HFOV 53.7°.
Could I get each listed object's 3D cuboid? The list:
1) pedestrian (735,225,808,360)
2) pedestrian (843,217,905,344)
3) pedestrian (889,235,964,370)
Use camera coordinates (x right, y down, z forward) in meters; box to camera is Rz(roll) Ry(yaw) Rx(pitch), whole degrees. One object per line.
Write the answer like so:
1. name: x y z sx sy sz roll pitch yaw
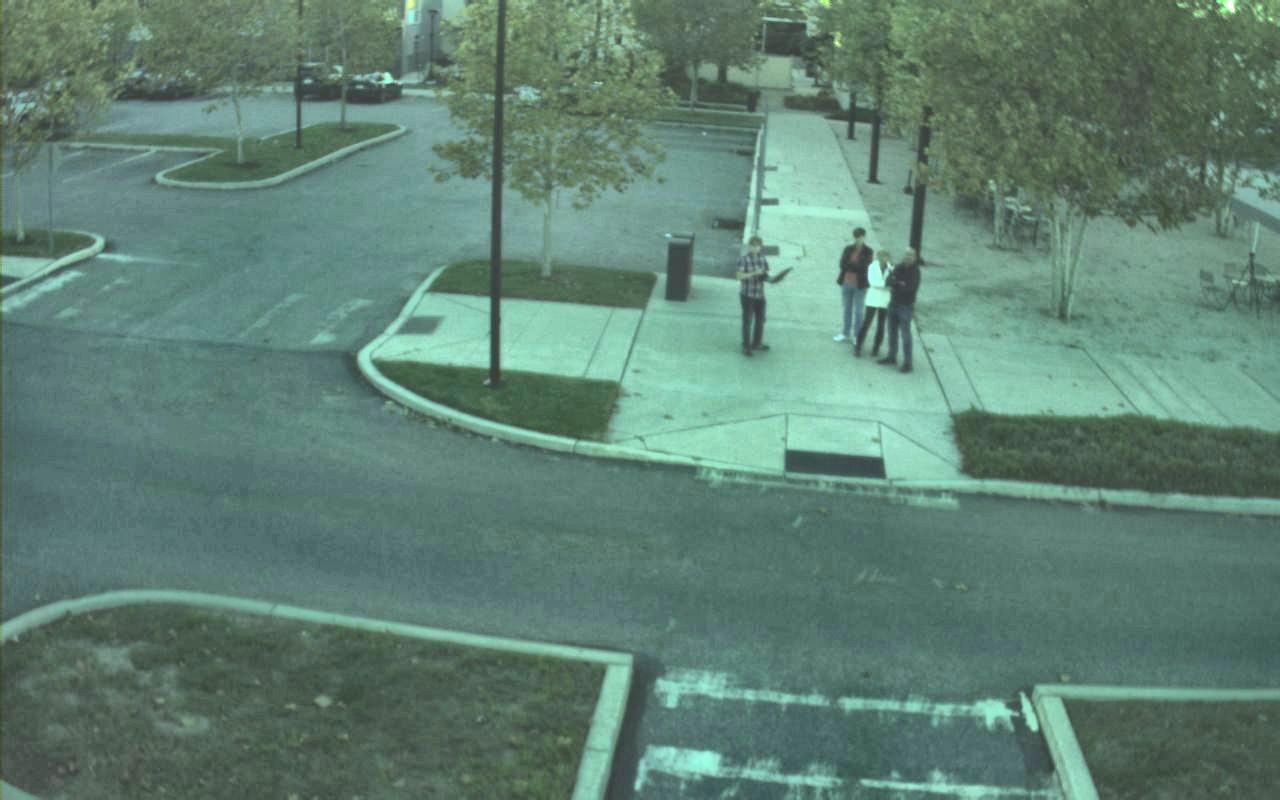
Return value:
1. pedestrian: 1.956 -1.616 18.735 0.775 1.818 0.788 -9 17 -28
2. pedestrian: 3.694 -1.897 19.672 0.764 1.842 0.780 7 17 27
3. pedestrian: 4.256 -1.463 18.433 0.786 1.827 0.775 -7 16 -20
